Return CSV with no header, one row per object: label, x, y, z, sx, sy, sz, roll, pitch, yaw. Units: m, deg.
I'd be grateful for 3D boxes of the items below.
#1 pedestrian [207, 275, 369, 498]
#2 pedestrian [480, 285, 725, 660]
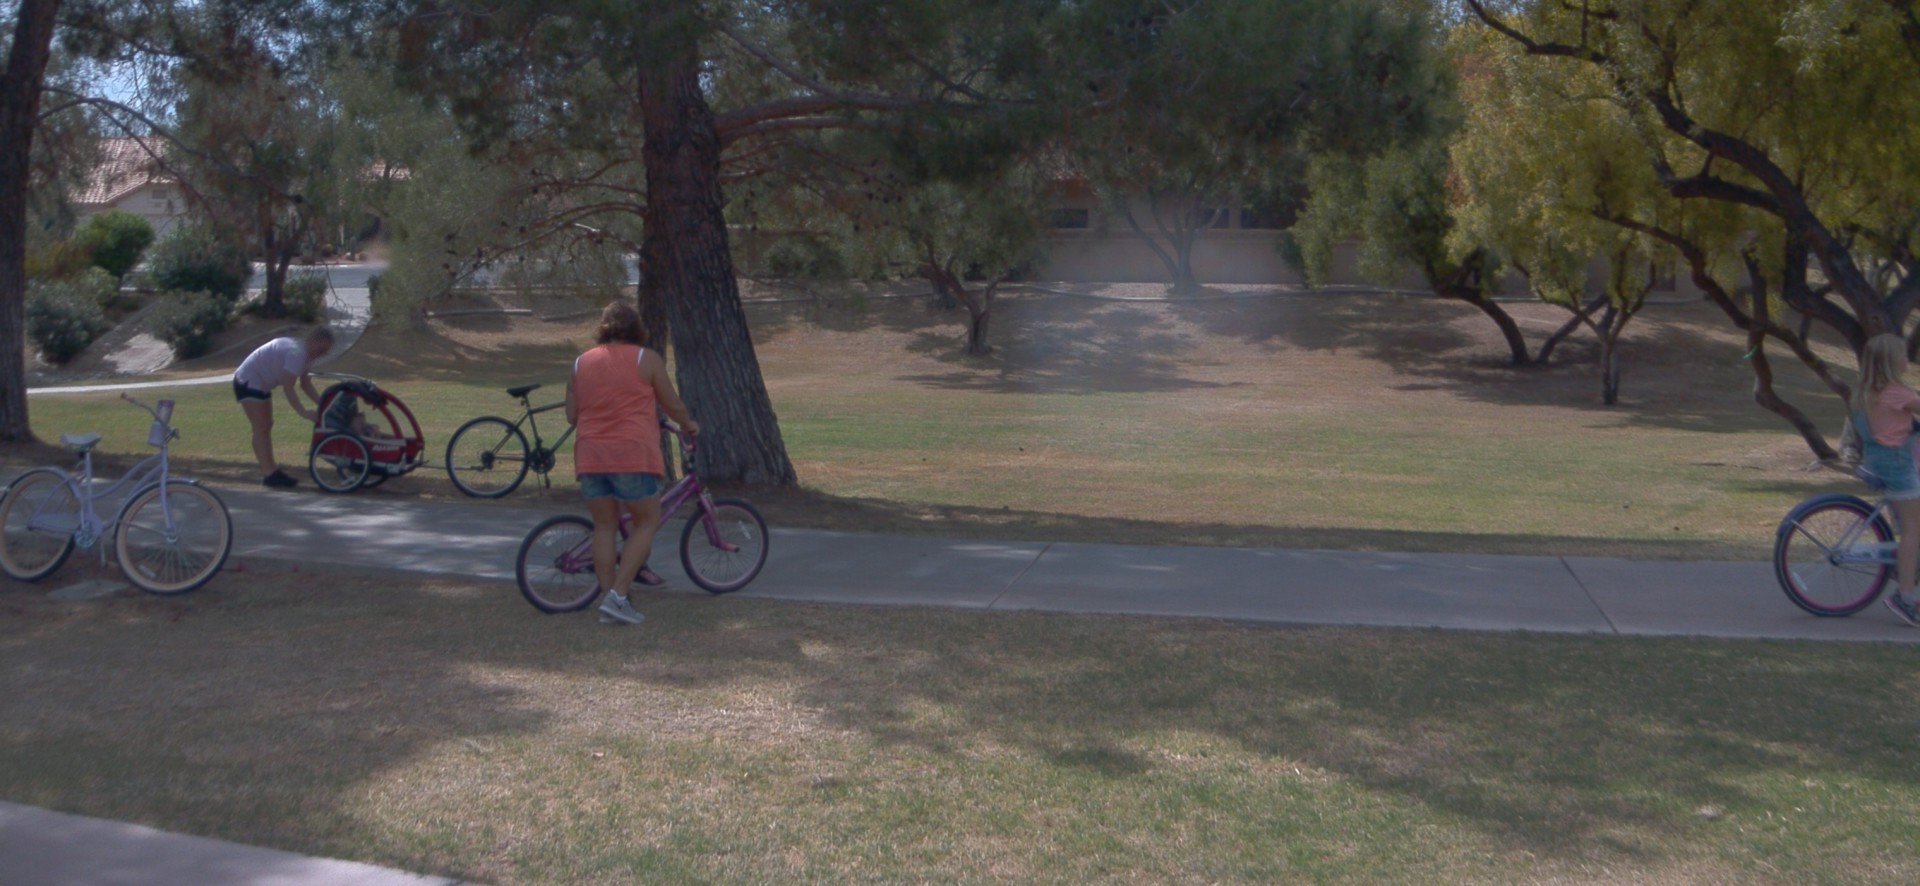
pedestrian,-5.347,-0.481,16.590,0.899,1.712,0.833,0,0,18
pedestrian,-1.732,0.092,10.244,0.893,1.722,1.040,0,1,9
